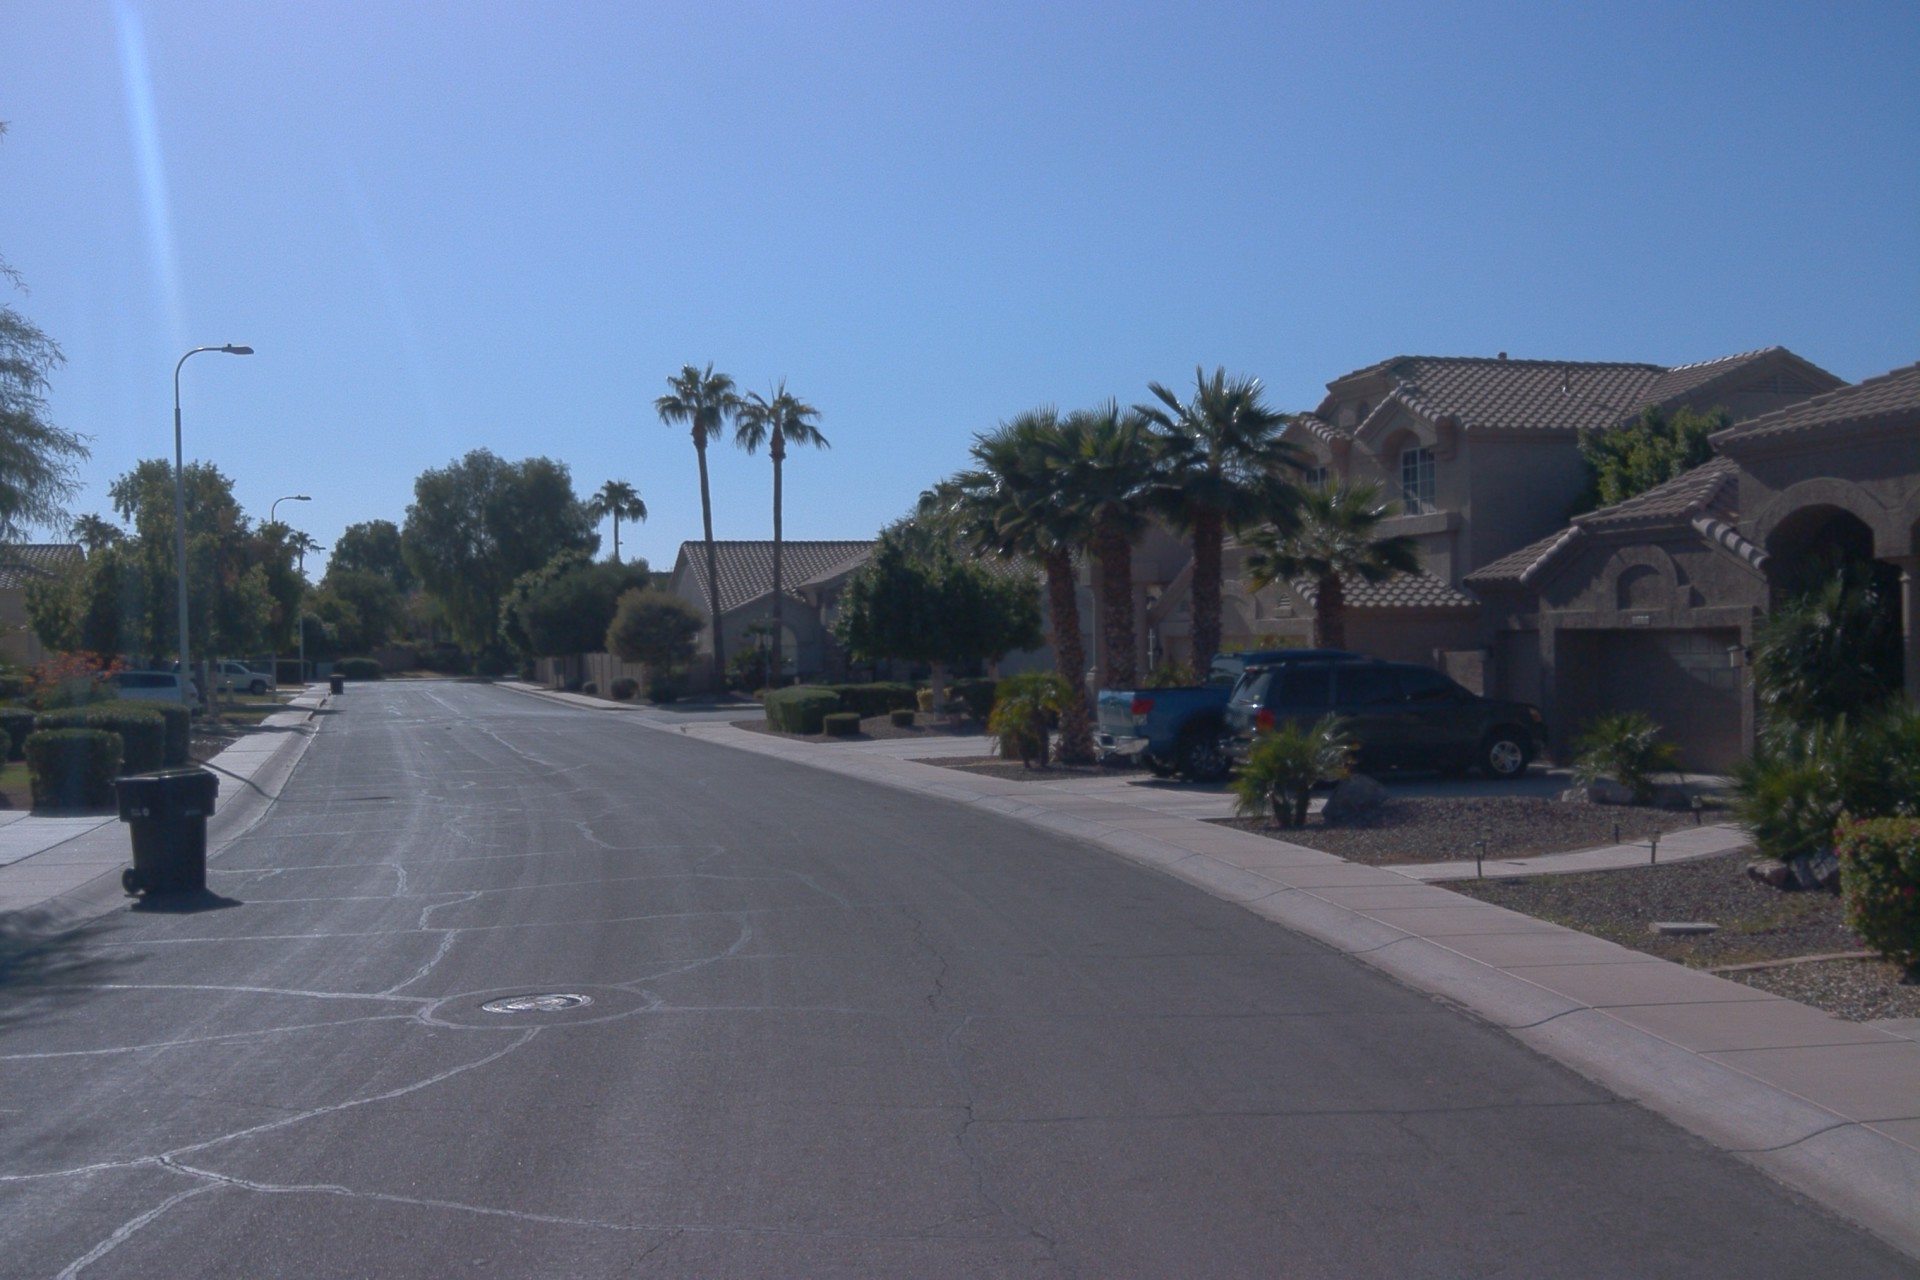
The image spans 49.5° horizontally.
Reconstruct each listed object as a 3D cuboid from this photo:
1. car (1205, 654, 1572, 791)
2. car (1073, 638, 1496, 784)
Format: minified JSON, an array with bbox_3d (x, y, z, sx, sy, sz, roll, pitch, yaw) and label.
[{"bbox_3d":[6.115,1.133,29.980,4.686,1.870,2.138,0,0,-12],"label":"car"},{"bbox_3d":[5.015,1.050,32.494,6.006,2.130,2.494,0,0,-15],"label":"car"}]
